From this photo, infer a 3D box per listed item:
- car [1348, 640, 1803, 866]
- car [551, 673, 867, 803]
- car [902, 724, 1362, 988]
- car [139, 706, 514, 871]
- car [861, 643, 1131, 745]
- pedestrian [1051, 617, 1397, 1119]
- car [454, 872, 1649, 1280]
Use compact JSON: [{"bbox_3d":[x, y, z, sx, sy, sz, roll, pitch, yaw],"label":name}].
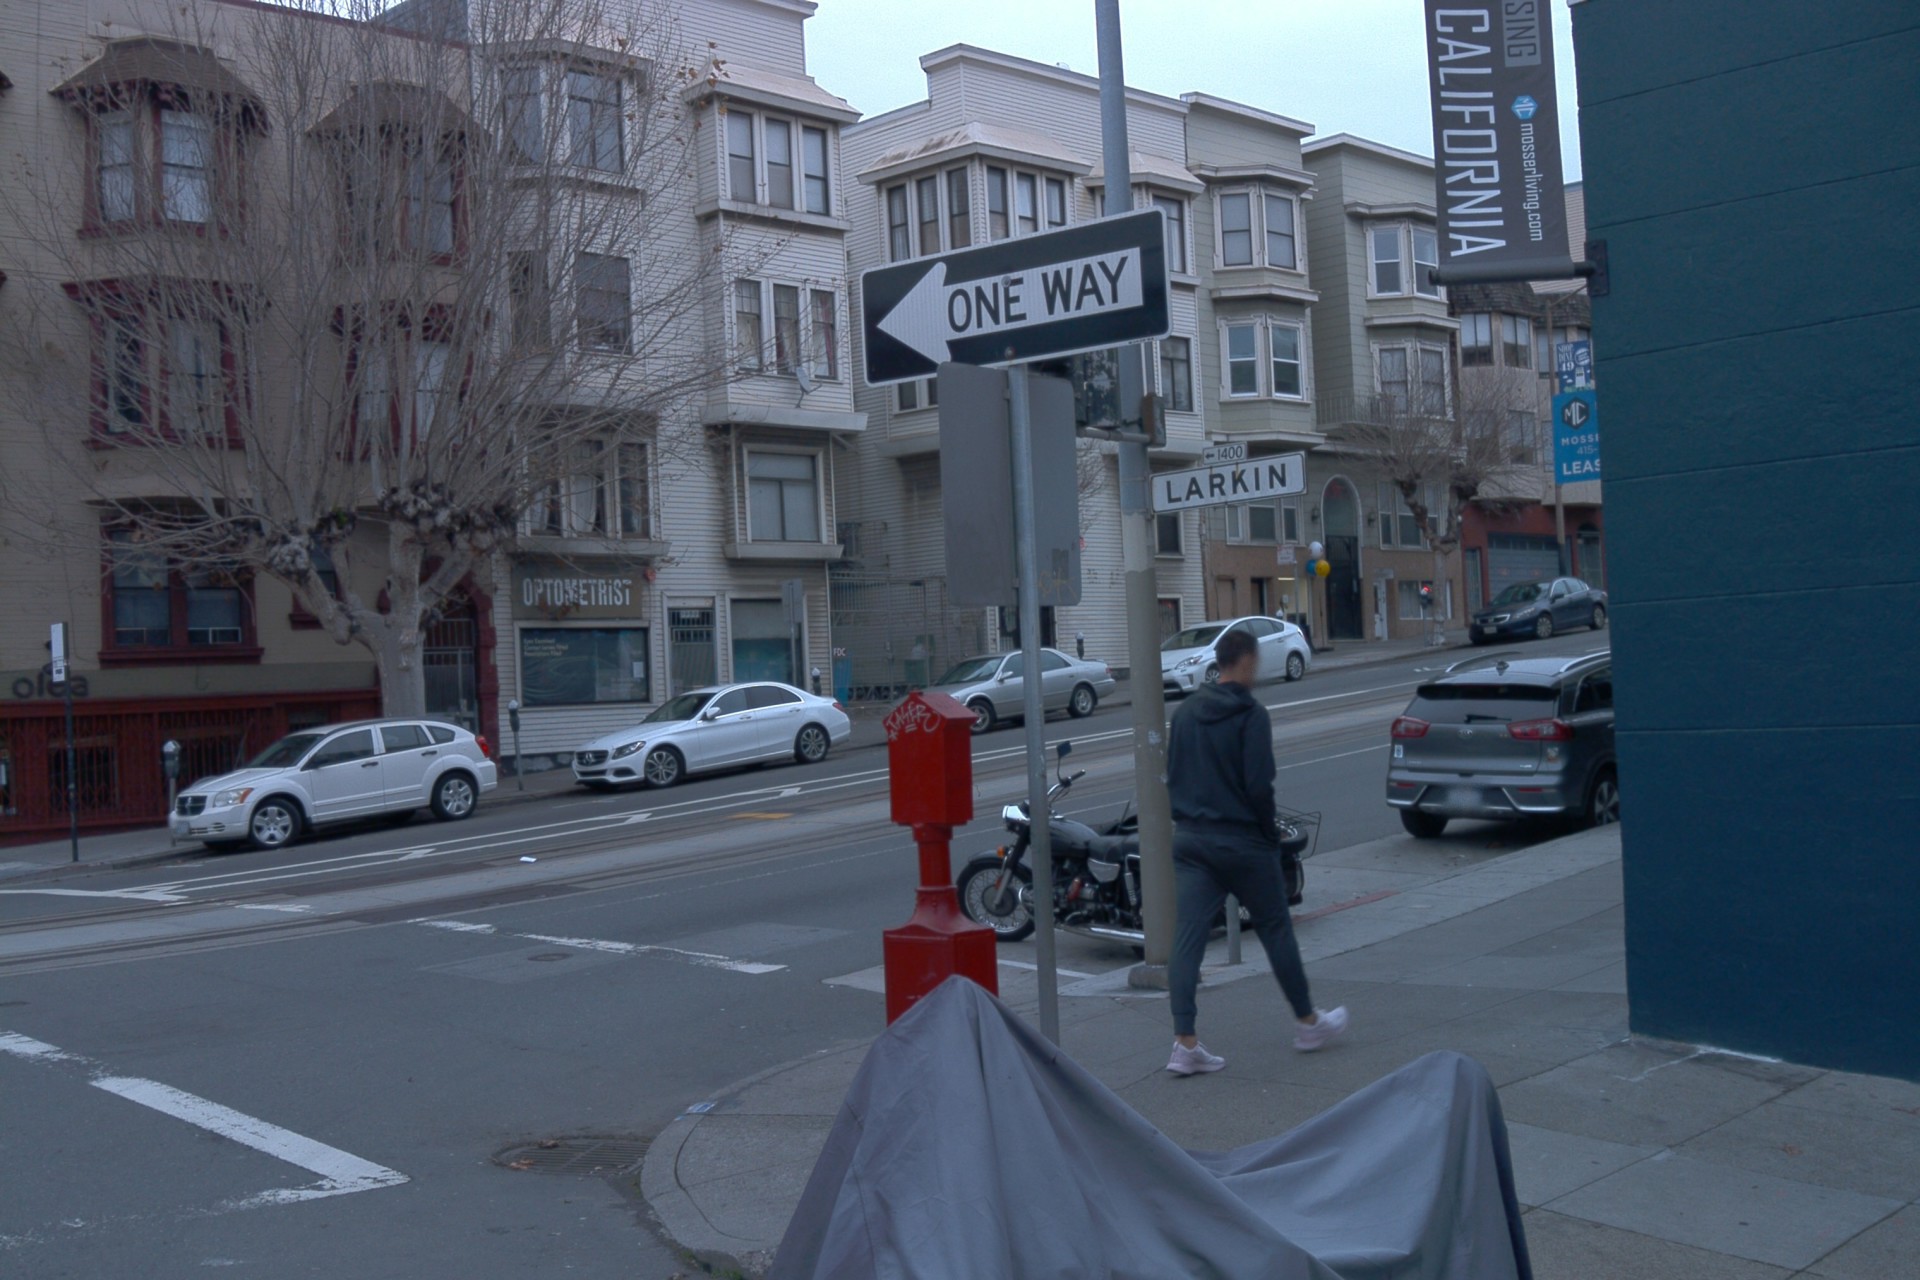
[{"bbox_3d":[5.645,0.883,18.584,2.132,1.717,4.606,0,1,42],"label":"car"},{"bbox_3d":[-3.872,1.464,32.361,4.589,1.757,2.074,-1,1,-44],"label":"car"},{"bbox_3d":[1.133,1.378,14.055,2.745,1.460,1.540,0,1,42],"label":"car"},{"bbox_3d":[-8.482,1.917,27.919,2.053,1.847,4.407,1,1,44],"label":"car"},{"bbox_3d":[0.712,0.918,37.121,4.801,1.657,2.084,-1,1,-45],"label":"car"},{"bbox_3d":[1.205,0.929,9.286,1.450,2.066,0.822,-1,1,-45],"label":"pedestrian"},{"bbox_3d":[0.332,1.393,4.286,2.490,1.520,1.048,-1,1,-44],"label":"car"}]
